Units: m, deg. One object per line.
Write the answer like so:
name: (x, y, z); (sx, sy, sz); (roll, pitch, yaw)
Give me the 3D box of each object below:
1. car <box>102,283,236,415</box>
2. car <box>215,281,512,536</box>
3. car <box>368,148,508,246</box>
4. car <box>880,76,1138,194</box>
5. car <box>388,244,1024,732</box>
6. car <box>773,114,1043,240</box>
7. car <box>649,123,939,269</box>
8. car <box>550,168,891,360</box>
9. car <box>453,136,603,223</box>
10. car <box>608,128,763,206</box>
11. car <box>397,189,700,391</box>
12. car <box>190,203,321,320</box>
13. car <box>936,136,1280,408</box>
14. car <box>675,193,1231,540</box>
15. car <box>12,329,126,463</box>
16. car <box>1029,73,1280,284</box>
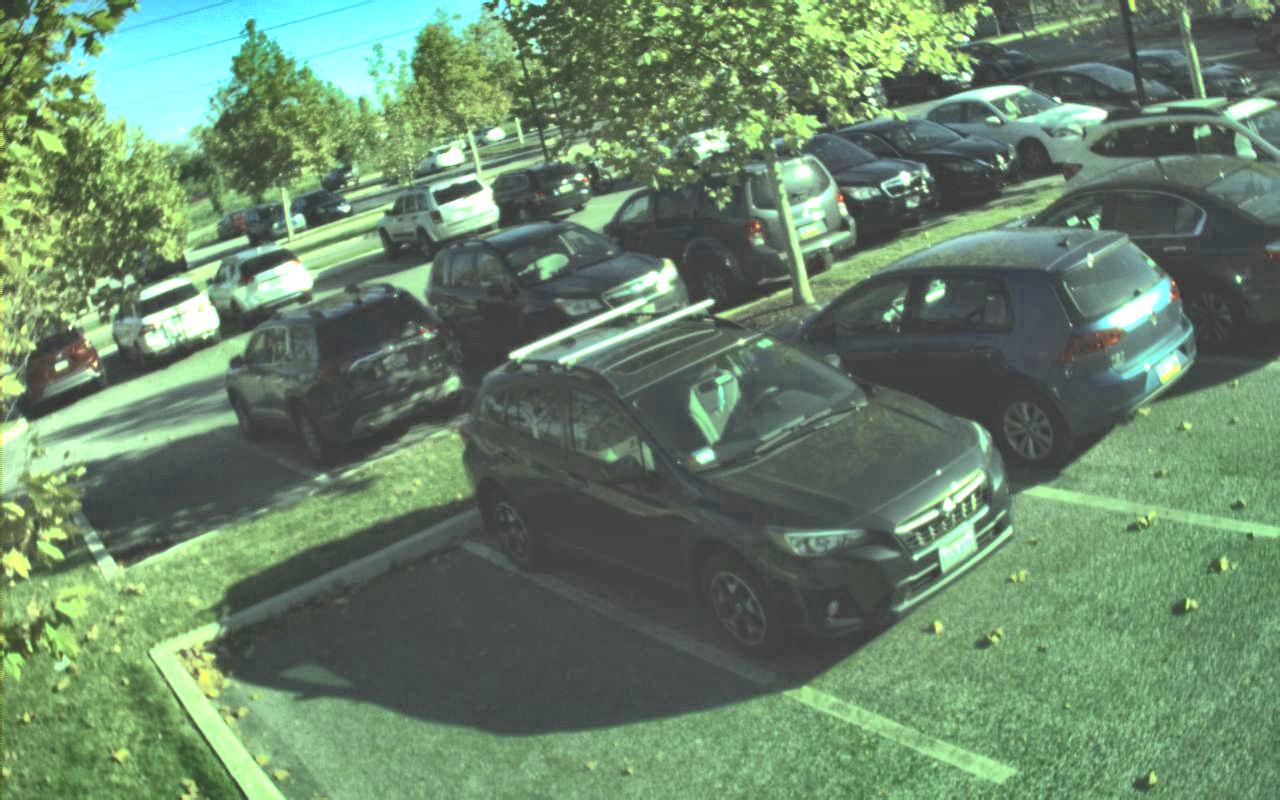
car: (-11.044, -1.245, 27.424); (2.059, 1.867, 4.698); (-12, 20, -33)
car: (-3.633, -0.103, 15.279); (2.029, 1.753, 4.697); (-12, 20, -33)
car: (-5.243, -5.240, 31.481); (2.060, 1.819, 4.774); (-10, 19, -27)
car: (6.692, -4.938, 22.034); (2.045, 1.698, 4.736); (-11, 19, -30)
car: (0.167, 0.230, 8.503); (1.988, 1.774, 4.436); (-12, 20, -33)
car: (4.445, -3.849, 20.714); (1.947, 1.576, 4.417); (-13, 20, -35)
car: (2.270, -3.269, 19.240); (1.975, 1.628, 4.497); (-12, 20, -34)
car: (0.967, -2.015, 17.136); (2.029, 1.750, 4.679); (-14, 21, -37)
car: (-3.004, -5.788, 32.390); (1.980, 1.711, 4.543); (-11, 19, -31)
car: (1.232, -6.756, 35.874); (2.020, 1.719, 4.678); (-12, 20, -33)
car: (-1.333, -1.582, 16.069); (1.964, 1.644, 4.471); (-11, 19, -31)
car: (-9.302, -3.366, 28.800); (2.046, 1.913, 4.623); (-11, 19, -30)
car: (4.929, -1.368, 10.747); (1.956, 1.588, 4.502); (-11, 19, -29)
car: (2.367, -0.505, 9.780); (1.910, 1.649, 4.253); (-13, 21, -36)
car: (-13.080, -0.123, 25.945); (2.009, 1.717, 4.558); (-11, 20, -32)
car: (6.667, -2.634, 12.830); (2.004, 1.716, 4.539); (-11, 19, -31)
